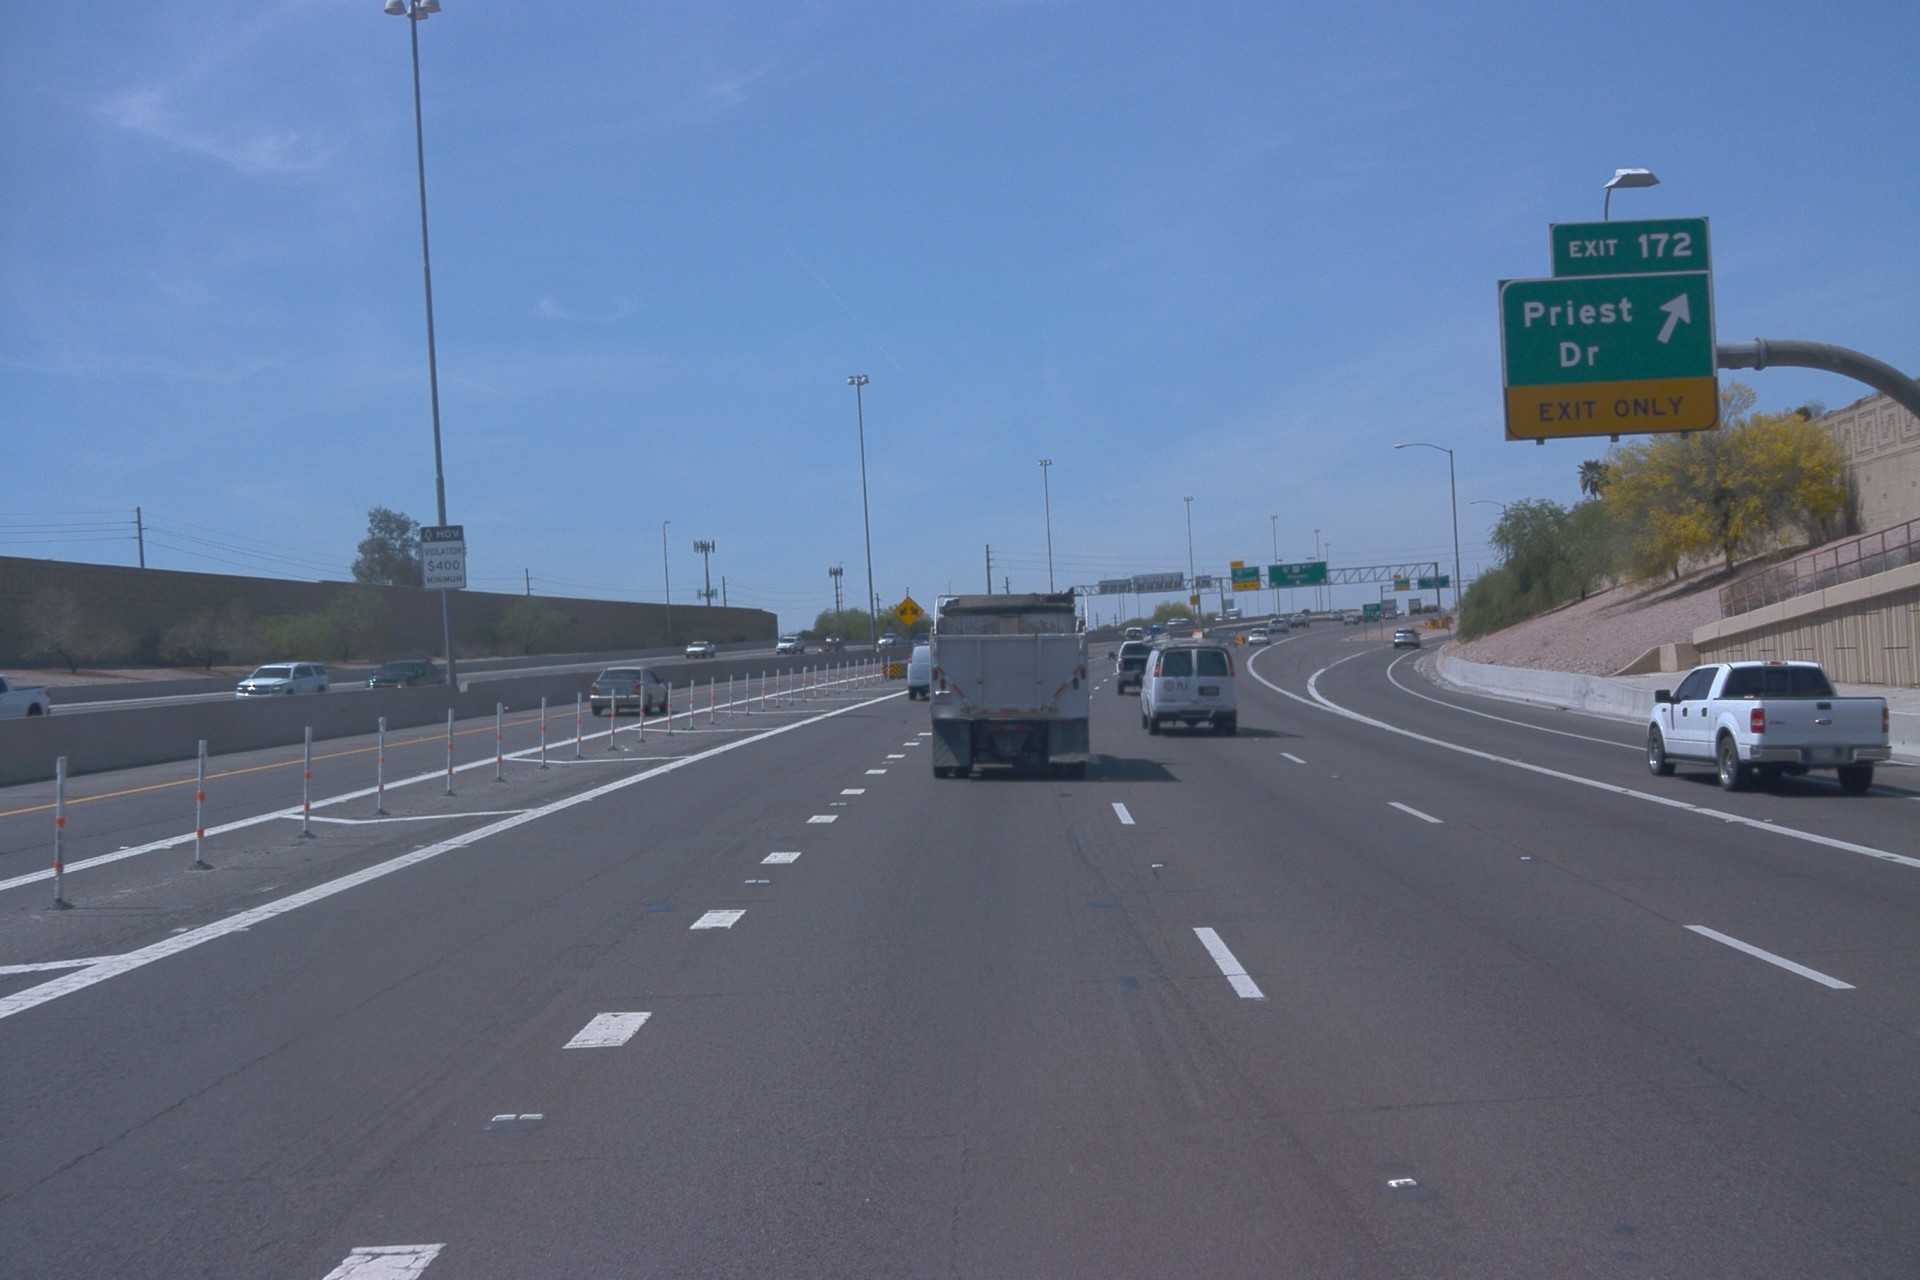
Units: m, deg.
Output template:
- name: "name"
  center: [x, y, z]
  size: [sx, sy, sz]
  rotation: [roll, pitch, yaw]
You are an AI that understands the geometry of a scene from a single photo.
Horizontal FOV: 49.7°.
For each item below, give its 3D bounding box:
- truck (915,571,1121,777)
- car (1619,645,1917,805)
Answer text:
- name: "truck"
  center: [1.015, 0.536, 35.062]
  size: [3.162, 3.170, 6.476]
  rotation: [0, 0, 2]
- name: "car"
  center: [11.987, 1.180, 31.265]
  size: [2.519, 2.190, 5.662]
  rotation: [0, 0, 3]
